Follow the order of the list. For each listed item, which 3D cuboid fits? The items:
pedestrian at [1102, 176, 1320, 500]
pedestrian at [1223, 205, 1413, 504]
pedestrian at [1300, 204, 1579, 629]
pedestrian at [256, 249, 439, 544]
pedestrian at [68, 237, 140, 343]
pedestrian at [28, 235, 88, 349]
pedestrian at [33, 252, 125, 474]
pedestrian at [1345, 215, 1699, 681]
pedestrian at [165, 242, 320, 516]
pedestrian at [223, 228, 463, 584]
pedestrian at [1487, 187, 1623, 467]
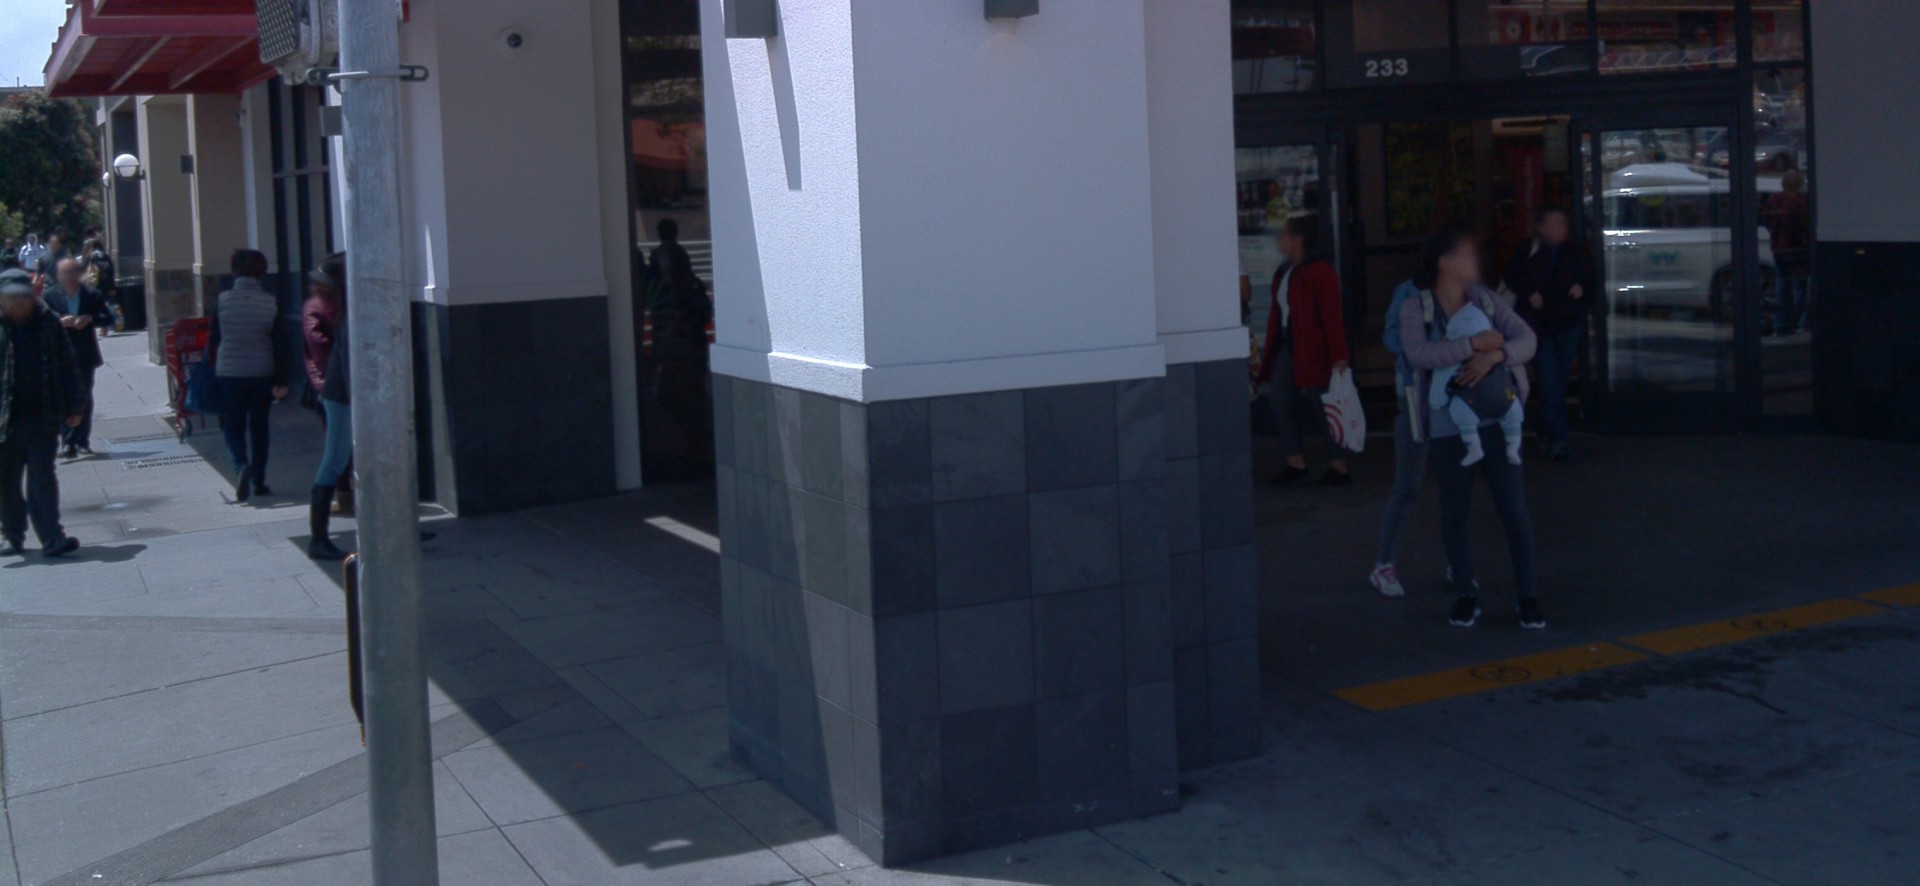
[{"bbox_3d":[1.484,-0.653,12.212,0.953,1.829,0.882,-1,1,-28],"label":"pedestrian"},{"bbox_3d":[2.039,-0.534,11.731,0.752,1.629,0.768,-1,1,-31],"label":"pedestrian"},{"bbox_3d":[2.014,-0.160,8.720,0.825,1.689,0.881,0,1,-17],"label":"pedestrian"},{"bbox_3d":[-3.675,-0.322,12.320,0.815,1.679,0.818,-1,2,-37],"label":"pedestrian"},{"bbox_3d":[-13.636,-2.450,32.731,0.842,1.659,0.884,-1,2,-38],"label":"pedestrian"},{"bbox_3d":[-14.010,-2.366,31.913,0.839,1.729,0.983,-1,2,-25],"label":"pedestrian"},{"bbox_3d":[-7.082,-0.667,16.500,0.654,1.719,0.809,0,1,-25],"label":"pedestrian"},{"bbox_3d":[2.162,-0.037,8.062,1.072,1.699,1.066,0,2,-2],"label":"pedestrian"},{"bbox_3d":[-4.663,-0.451,13.333,0.888,1.699,0.832,-1,1,-24],"label":"pedestrian"},{"bbox_3d":[-3.229,-0.234,10.820,0.937,1.789,0.829,0,1,9],"label":"pedestrian"},{"bbox_3d":[3.653,-0.737,12.653,0.780,1.649,0.894,0,1,15],"label":"pedestrian"}]
